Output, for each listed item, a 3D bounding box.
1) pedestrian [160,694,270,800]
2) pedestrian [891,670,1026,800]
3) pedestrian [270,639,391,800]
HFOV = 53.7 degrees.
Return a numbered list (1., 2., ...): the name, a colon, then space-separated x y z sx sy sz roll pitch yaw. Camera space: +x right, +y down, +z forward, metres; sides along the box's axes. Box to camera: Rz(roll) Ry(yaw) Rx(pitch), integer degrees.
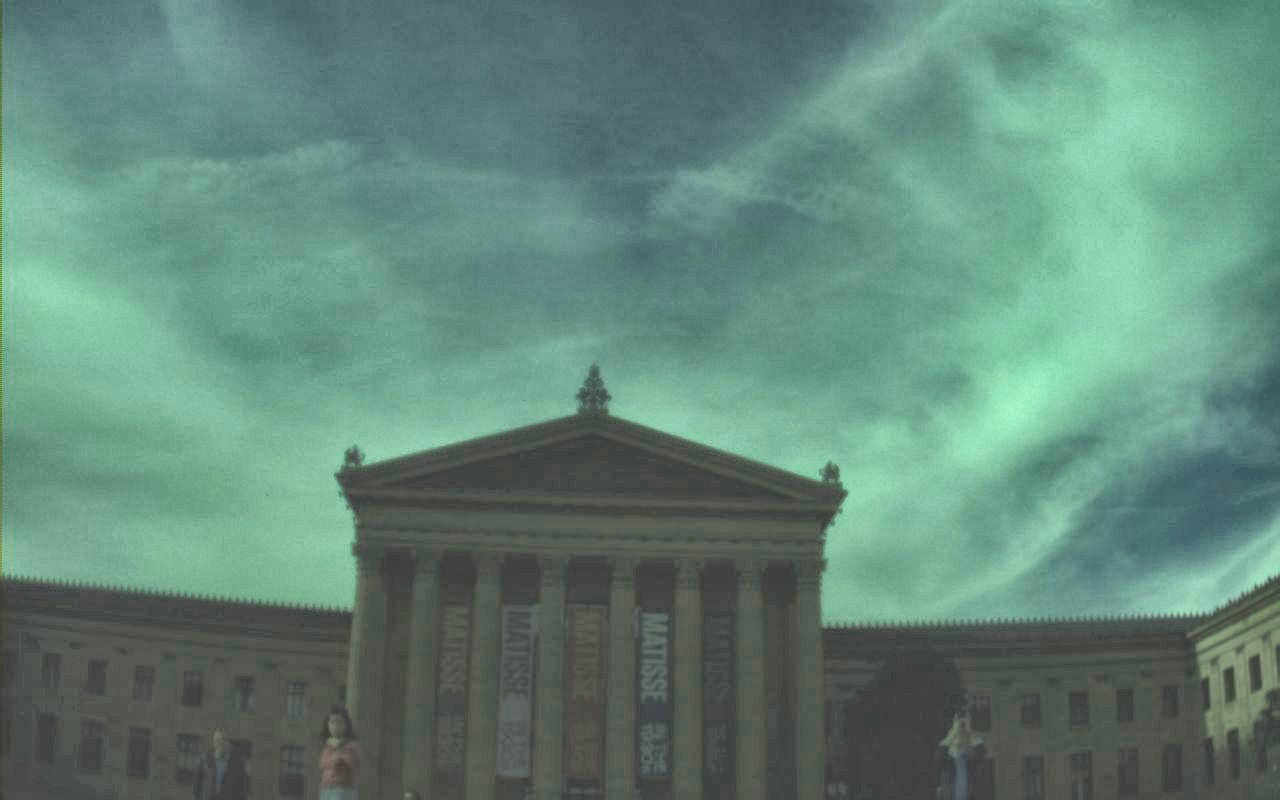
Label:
1. pedestrian: -4.362 3.974 11.650 0.814 1.703 0.806 0 0 0
2. pedestrian: 2.875 3.406 10.628 0.801 1.724 0.799 0 0 -39
3. pedestrian: -2.297 2.703 8.780 0.762 1.706 0.785 0 0 -8
